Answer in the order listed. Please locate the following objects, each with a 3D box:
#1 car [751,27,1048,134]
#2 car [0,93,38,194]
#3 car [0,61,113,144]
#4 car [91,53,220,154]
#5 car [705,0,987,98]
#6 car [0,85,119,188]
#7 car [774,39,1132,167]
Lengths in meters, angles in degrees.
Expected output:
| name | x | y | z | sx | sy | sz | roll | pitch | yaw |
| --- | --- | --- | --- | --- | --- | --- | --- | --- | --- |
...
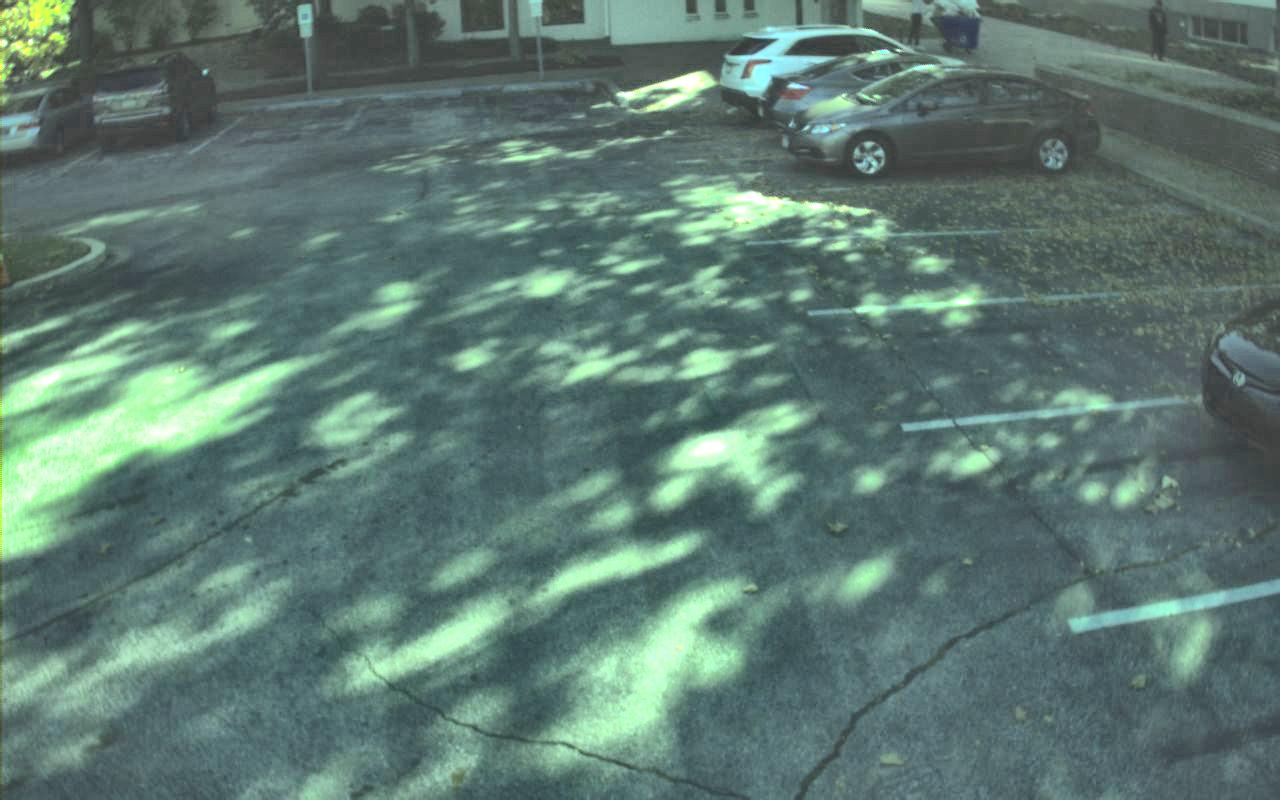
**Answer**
| name | x | y | z | sx | sy | sz | roll | pitch | yaw |
| --- | --- | --- | --- | --- | --- | --- | --- | --- | --- |
| car | 4.028 | -4.971 | 18.867 | 4.308 | 1.538 | 1.912 | -4 | 16 | -8 |
| car | -15.219 | -5.688 | 24.021 | 1.945 | 1.626 | 4.485 | -1 | 17 | -1 |
| car | -14.954 | -7.580 | 28.474 | 1.996 | 1.671 | 4.672 | -4 | 17 | -10 |
| car | -10.071 | -6.232 | 24.194 | 1.990 | 1.704 | 4.546 | -4 | 17 | -11 |
| car | 3.580 | -6.137 | 21.185 | 4.572 | 1.672 | 1.983 | -4 | 16 | -9 |
| car | -12.655 | -5.626 | 23.808 | 1.946 | 1.622 | 4.477 | -3 | 17 | -6 |
| car | 4.299 | -4.092 | 16.581 | 4.663 | 1.577 | 1.988 | -3 | 16 | -6 |
